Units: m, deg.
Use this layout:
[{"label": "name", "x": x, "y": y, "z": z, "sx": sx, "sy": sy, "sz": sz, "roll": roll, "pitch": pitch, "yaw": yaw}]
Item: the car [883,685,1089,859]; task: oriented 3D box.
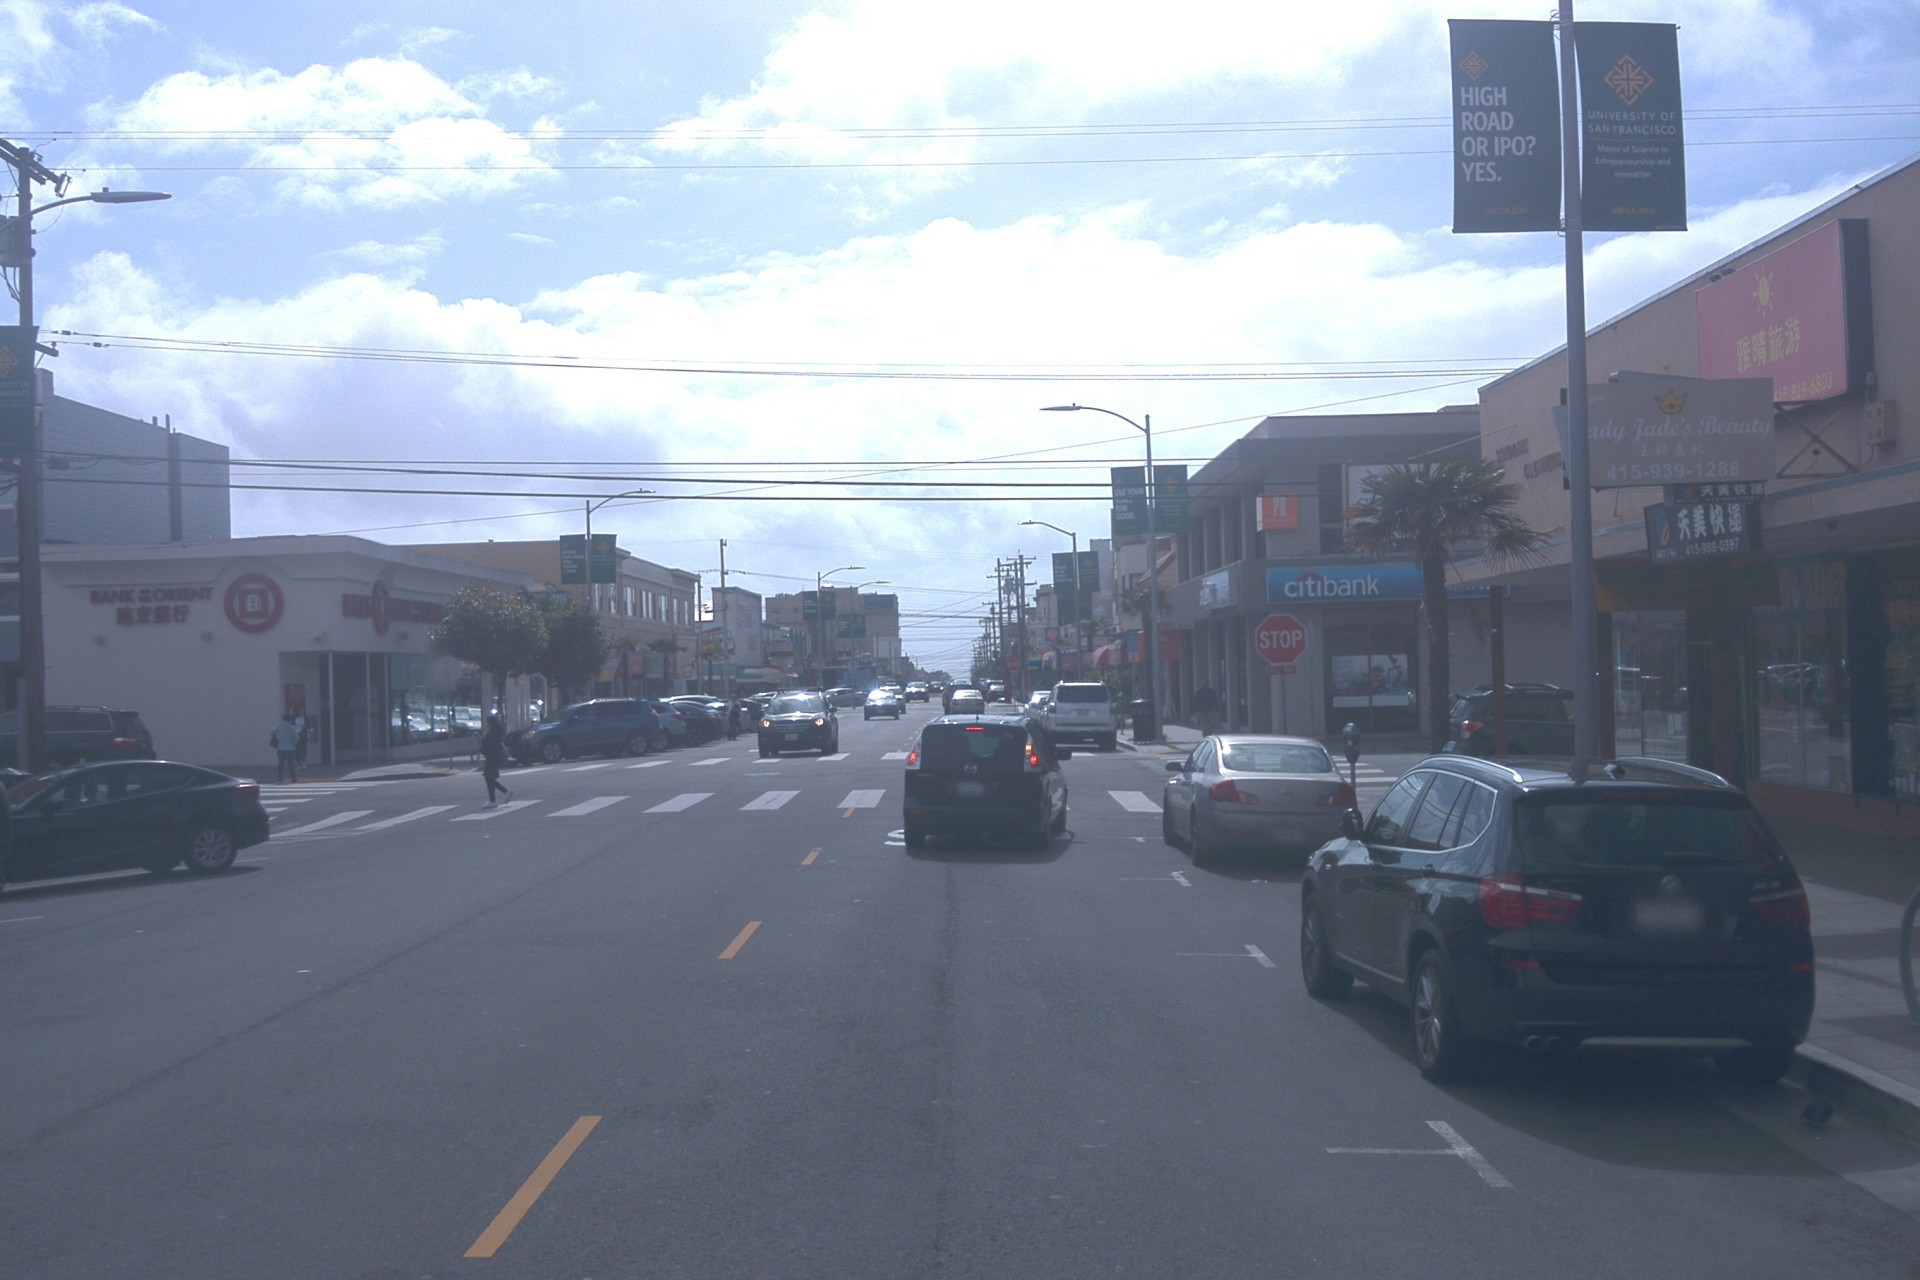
[{"label": "car", "x": 0.435, "y": 1.574, "z": 26.323, "sx": 2.096, "sy": 1.972, "sz": 4.572, "roll": 0, "pitch": -1, "yaw": 7}]

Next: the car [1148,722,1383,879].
[{"label": "car", "x": 3.437, "y": 1.783, "z": 24.226, "sx": 1.988, "sy": 1.532, "sz": 4.724, "roll": 0, "pitch": -1, "yaw": -1}]

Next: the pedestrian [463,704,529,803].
[{"label": "pedestrian", "x": -7.950, "y": 1.940, "z": 35.544, "sx": 0.935, "sy": 1.653, "sz": 0.998, "roll": 0, "pitch": -1, "yaw": -3}]

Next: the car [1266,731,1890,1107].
[{"label": "car", "x": 3.277, "y": 1.418, "z": 12.173, "sx": 2.061, "sy": 1.620, "sz": 4.747, "roll": 0, "pitch": -1, "yaw": -3}]
